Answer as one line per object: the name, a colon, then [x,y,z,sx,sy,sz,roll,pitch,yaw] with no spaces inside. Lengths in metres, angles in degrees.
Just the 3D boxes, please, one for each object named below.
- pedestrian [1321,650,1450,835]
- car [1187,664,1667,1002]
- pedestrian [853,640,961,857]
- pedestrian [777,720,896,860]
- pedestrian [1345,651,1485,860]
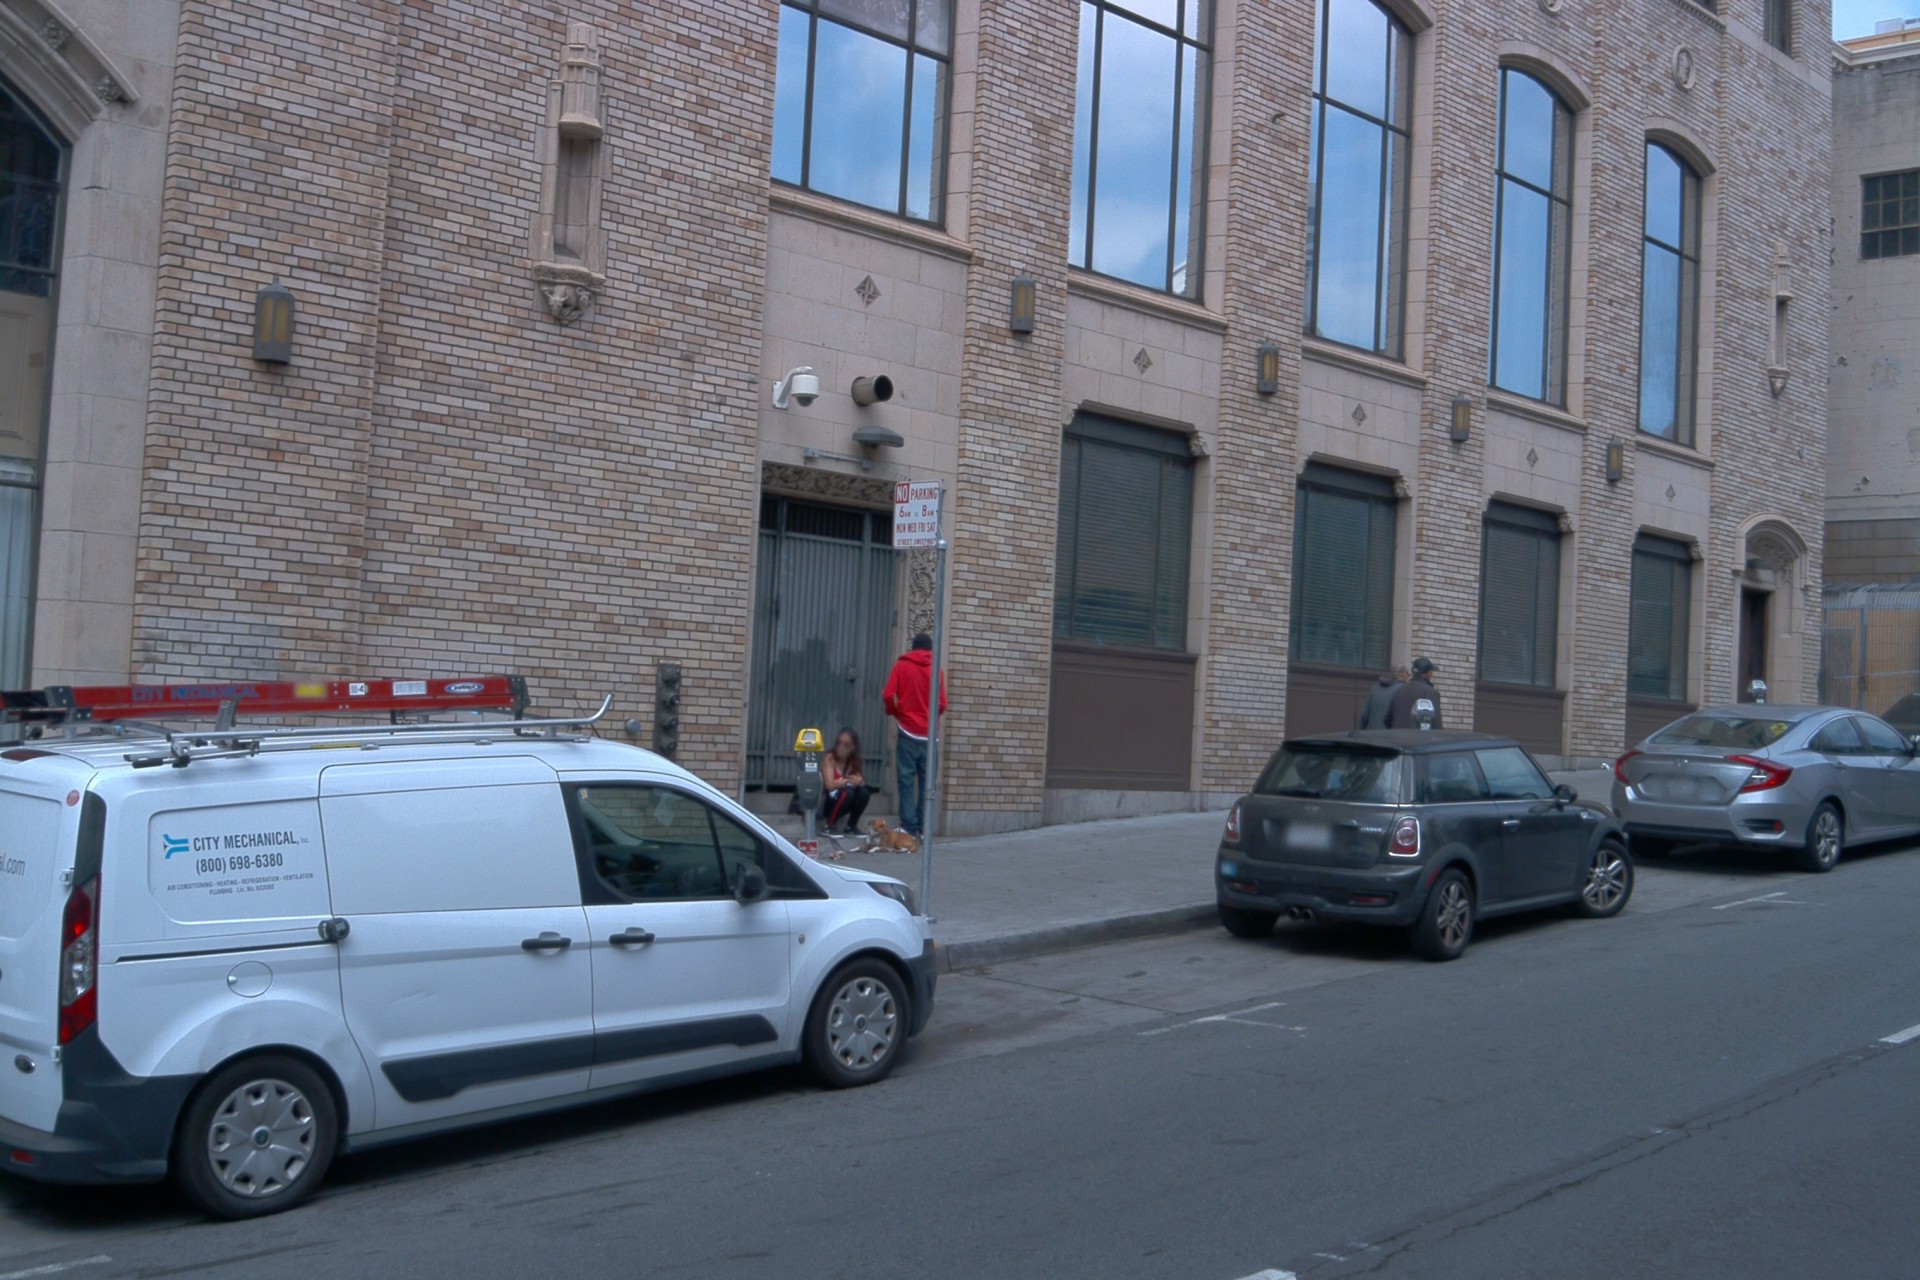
pedestrian: [4.282,1.004,20.755,0.923,1.780,0.899,-1,1,-43]
car: [3.418,1.212,14.683,1.729,1.980,3.770,1,1,42]
pedestrian: [-0.460,0.911,17.756,0.786,1.800,0.728,0,1,-14]
pedestrian: [-1.032,1.235,17.228,0.713,1.080,0.681,1,1,44]
pedestrian: [4.115,1.017,18.685,0.870,1.810,0.897,-1,1,-42]
